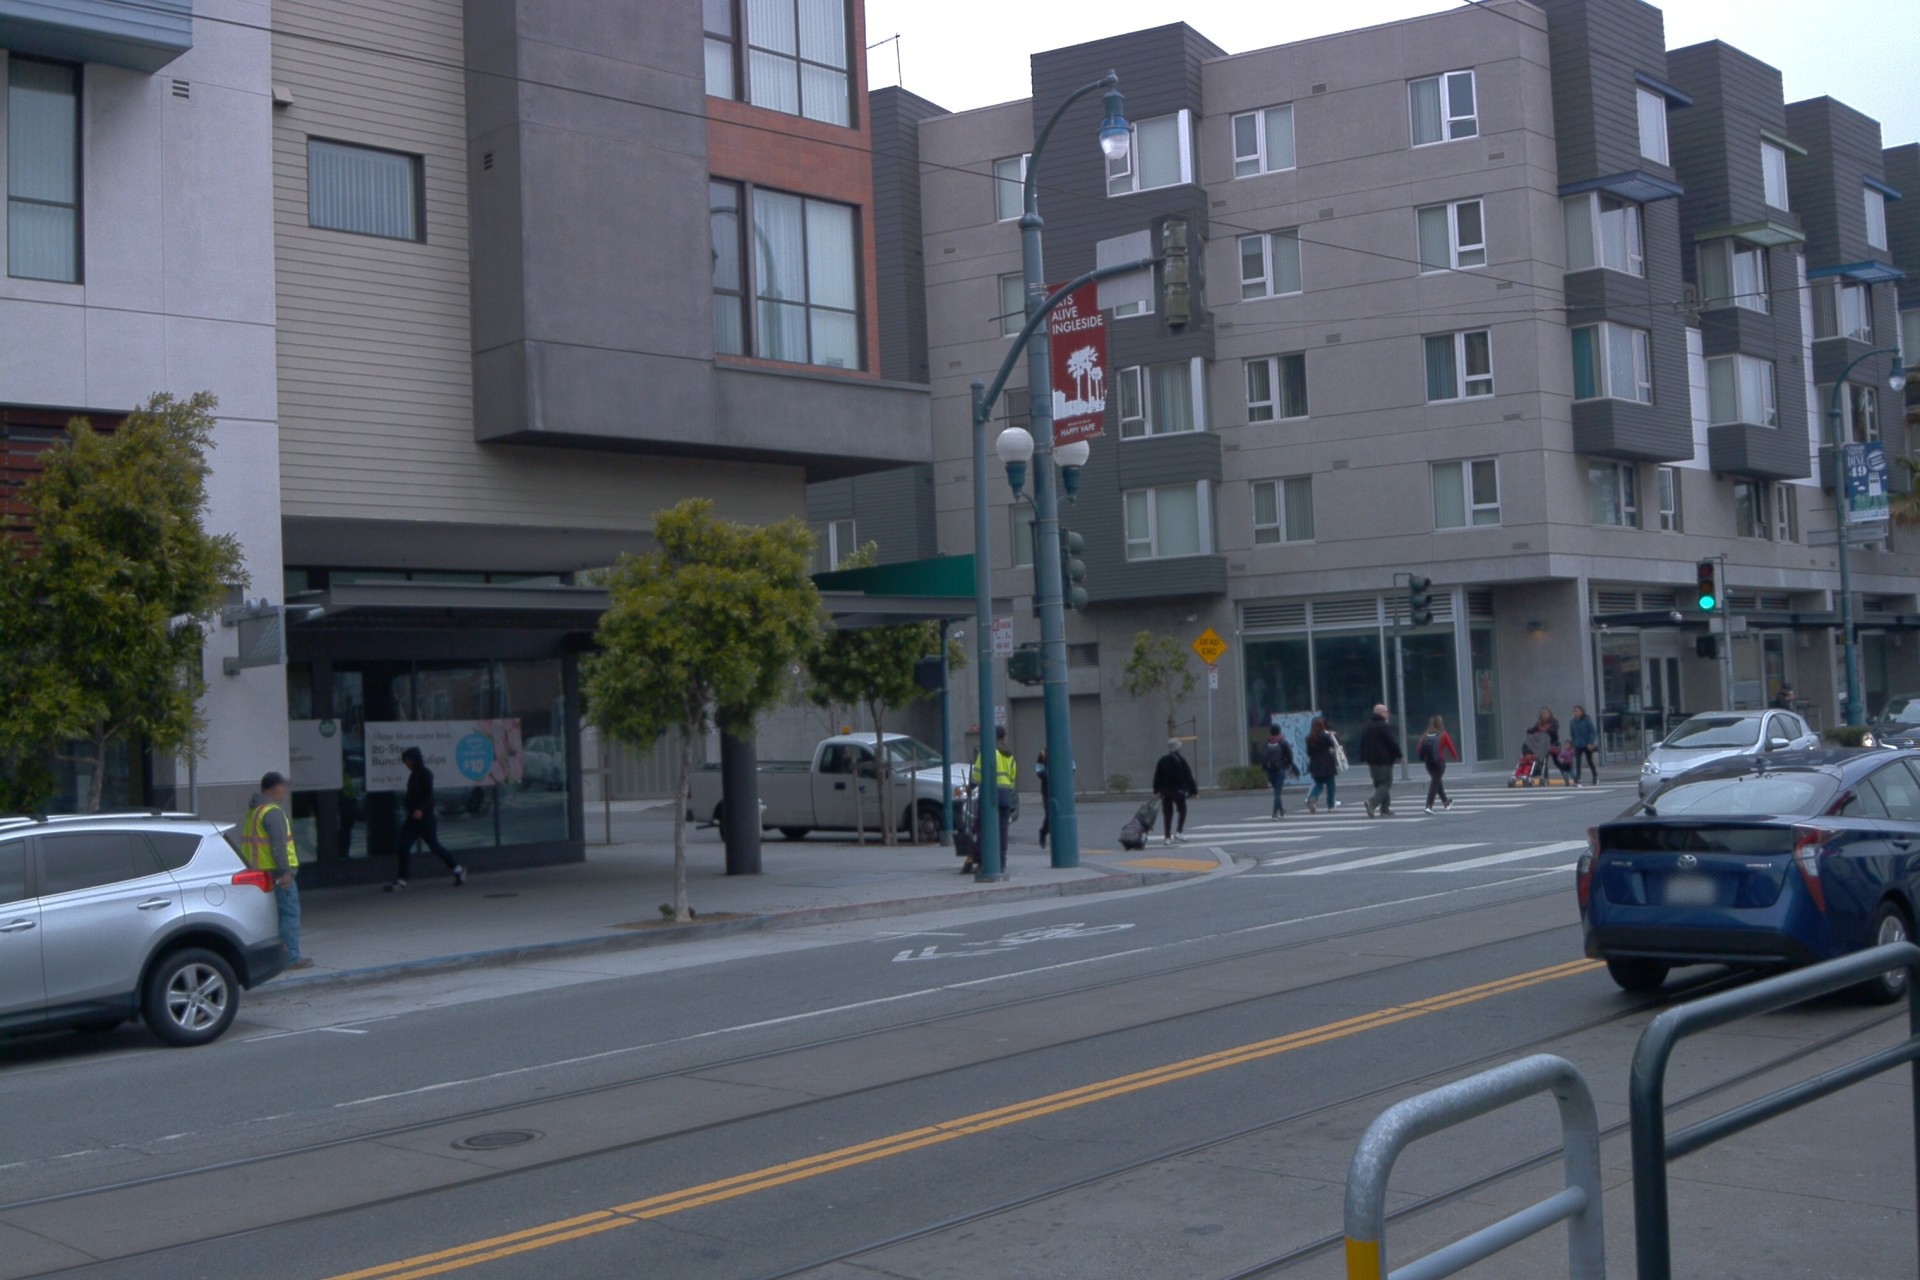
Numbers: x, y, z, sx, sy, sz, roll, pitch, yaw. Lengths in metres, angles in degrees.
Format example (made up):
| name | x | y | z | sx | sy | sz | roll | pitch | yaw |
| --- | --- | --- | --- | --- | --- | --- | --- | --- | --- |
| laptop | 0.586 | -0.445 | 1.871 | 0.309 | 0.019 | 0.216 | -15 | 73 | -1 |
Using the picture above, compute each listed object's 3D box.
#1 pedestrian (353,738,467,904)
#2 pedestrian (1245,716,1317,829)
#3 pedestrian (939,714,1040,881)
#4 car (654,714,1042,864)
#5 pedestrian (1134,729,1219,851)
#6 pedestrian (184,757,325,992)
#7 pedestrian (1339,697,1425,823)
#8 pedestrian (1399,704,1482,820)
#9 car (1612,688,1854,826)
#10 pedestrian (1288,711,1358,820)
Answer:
| name | x | y | z | sx | sy | sz | roll | pitch | yaw |
| --- | --- | --- | --- | --- | --- | --- | --- | --- | --- |
| pedestrian | -6.894 | 2.245 | 25.893 | 0.839 | 1.940 | 1.079 | 1 | 1 | 38 |
| pedestrian | 5.223 | 2.137 | 33.530 | 0.857 | 1.730 | 0.990 | 1 | 1 | 30 |
| pedestrian | 0.347 | 1.846 | 24.491 | 0.964 | 1.870 | 0.727 | -1 | 1 | -31 |
| car | -1.884 | 2.378 | 34.136 | 6.039 | 2.050 | 2.348 | 1 | 1 | 27 |
| pedestrian | 3.208 | 2.203 | 30.523 | 0.805 | 1.690 | 0.986 | 1 | 1 | 45 |
| pedestrian | -6.098 | 1.995 | 17.842 | 0.862 | 1.880 | 0.853 | -1 | 1 | -44 |
| pedestrian | 6.696 | 1.890 | 32.768 | 0.990 | 1.900 | 0.907 | -1 | 1 | -35 |
| pedestrian | 7.627 | 1.921 | 32.768 | 0.983 | 1.730 | 0.885 | -1 | 1 | -45 |
| car | 11.117 | 1.598 | 29.539 | 2.084 | 1.640 | 4.014 | 1 | 1 | 39 |
| pedestrian | 6.075 | 2.081 | 34.535 | 0.777 | 1.733 | 0.989 | 1 | 1 | 39 |
